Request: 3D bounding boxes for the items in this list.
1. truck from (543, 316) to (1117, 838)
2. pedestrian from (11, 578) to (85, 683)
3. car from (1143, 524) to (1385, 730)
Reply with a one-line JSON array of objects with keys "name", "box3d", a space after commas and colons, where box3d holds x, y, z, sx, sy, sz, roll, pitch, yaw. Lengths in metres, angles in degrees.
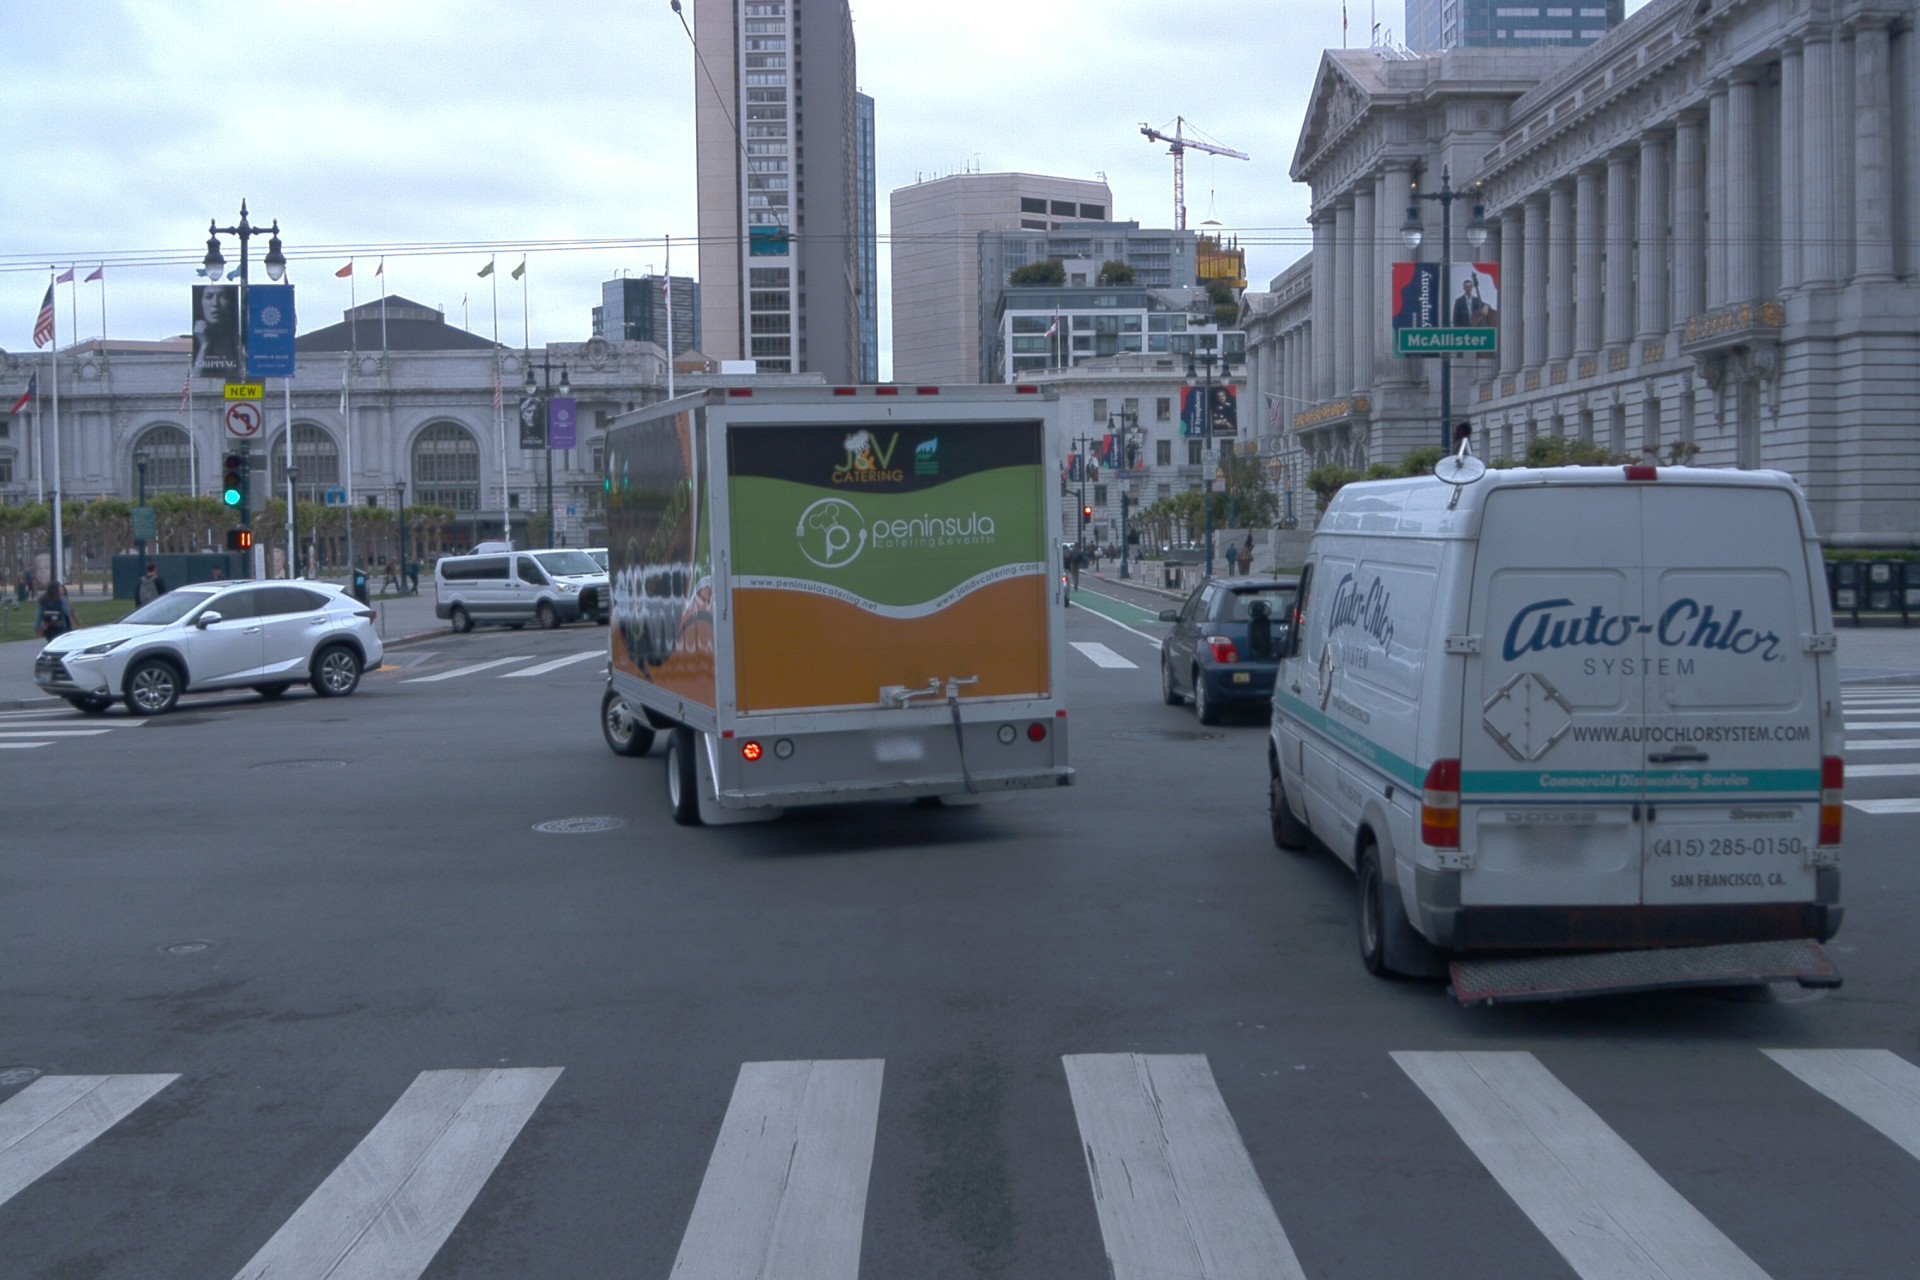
[{"name": "truck", "box3d": [-1.488, -0.459, 16.918, 2.909, 3.300, 7.305, -1, 1, -18]}, {"name": "pedestrian", "box3d": [-15.391, -0.163, 34.714, 0.793, 1.734, 0.966, 0, 1, 1]}, {"name": "car", "box3d": [3.135, -0.157, 22.012, 1.934, 1.990, 4.032, 0, 1, -1]}]
